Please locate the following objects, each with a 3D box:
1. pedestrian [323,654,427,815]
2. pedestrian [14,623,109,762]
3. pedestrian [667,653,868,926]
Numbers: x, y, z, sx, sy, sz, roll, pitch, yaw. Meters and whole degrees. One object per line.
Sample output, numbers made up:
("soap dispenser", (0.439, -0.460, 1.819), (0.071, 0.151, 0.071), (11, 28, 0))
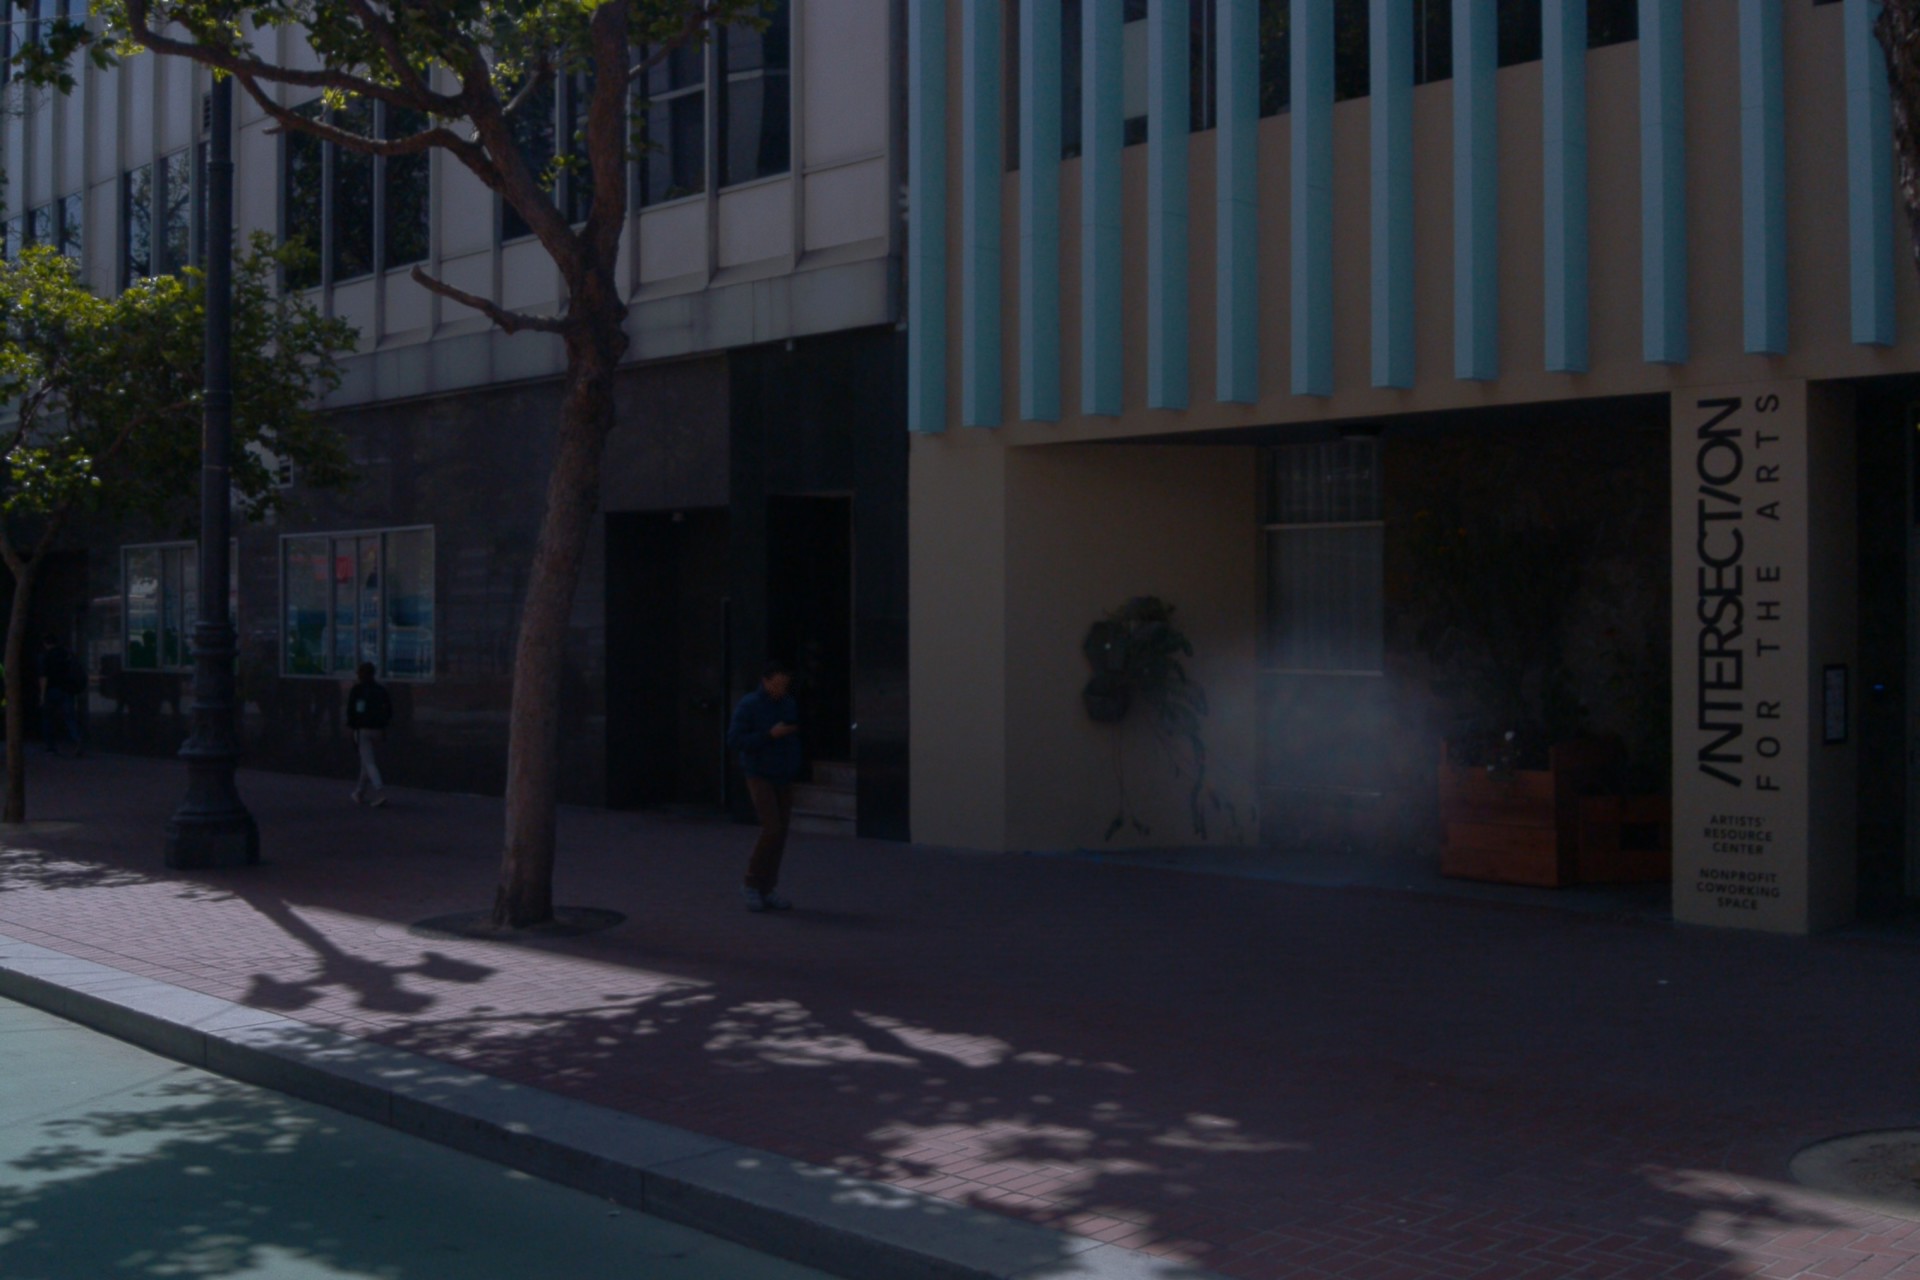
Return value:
("pedestrian", (-6.295, 0.990, 22.119), (0.673, 1.660, 1.050), (0, 0, -42))
("pedestrian", (-13.113, 0.745, 30.003), (1.235, 1.980, 0.861), (0, 0, 44))
("pedestrian", (-1.335, 0.984, 14.166), (1.178, 1.770, 0.805), (0, 0, 45))
